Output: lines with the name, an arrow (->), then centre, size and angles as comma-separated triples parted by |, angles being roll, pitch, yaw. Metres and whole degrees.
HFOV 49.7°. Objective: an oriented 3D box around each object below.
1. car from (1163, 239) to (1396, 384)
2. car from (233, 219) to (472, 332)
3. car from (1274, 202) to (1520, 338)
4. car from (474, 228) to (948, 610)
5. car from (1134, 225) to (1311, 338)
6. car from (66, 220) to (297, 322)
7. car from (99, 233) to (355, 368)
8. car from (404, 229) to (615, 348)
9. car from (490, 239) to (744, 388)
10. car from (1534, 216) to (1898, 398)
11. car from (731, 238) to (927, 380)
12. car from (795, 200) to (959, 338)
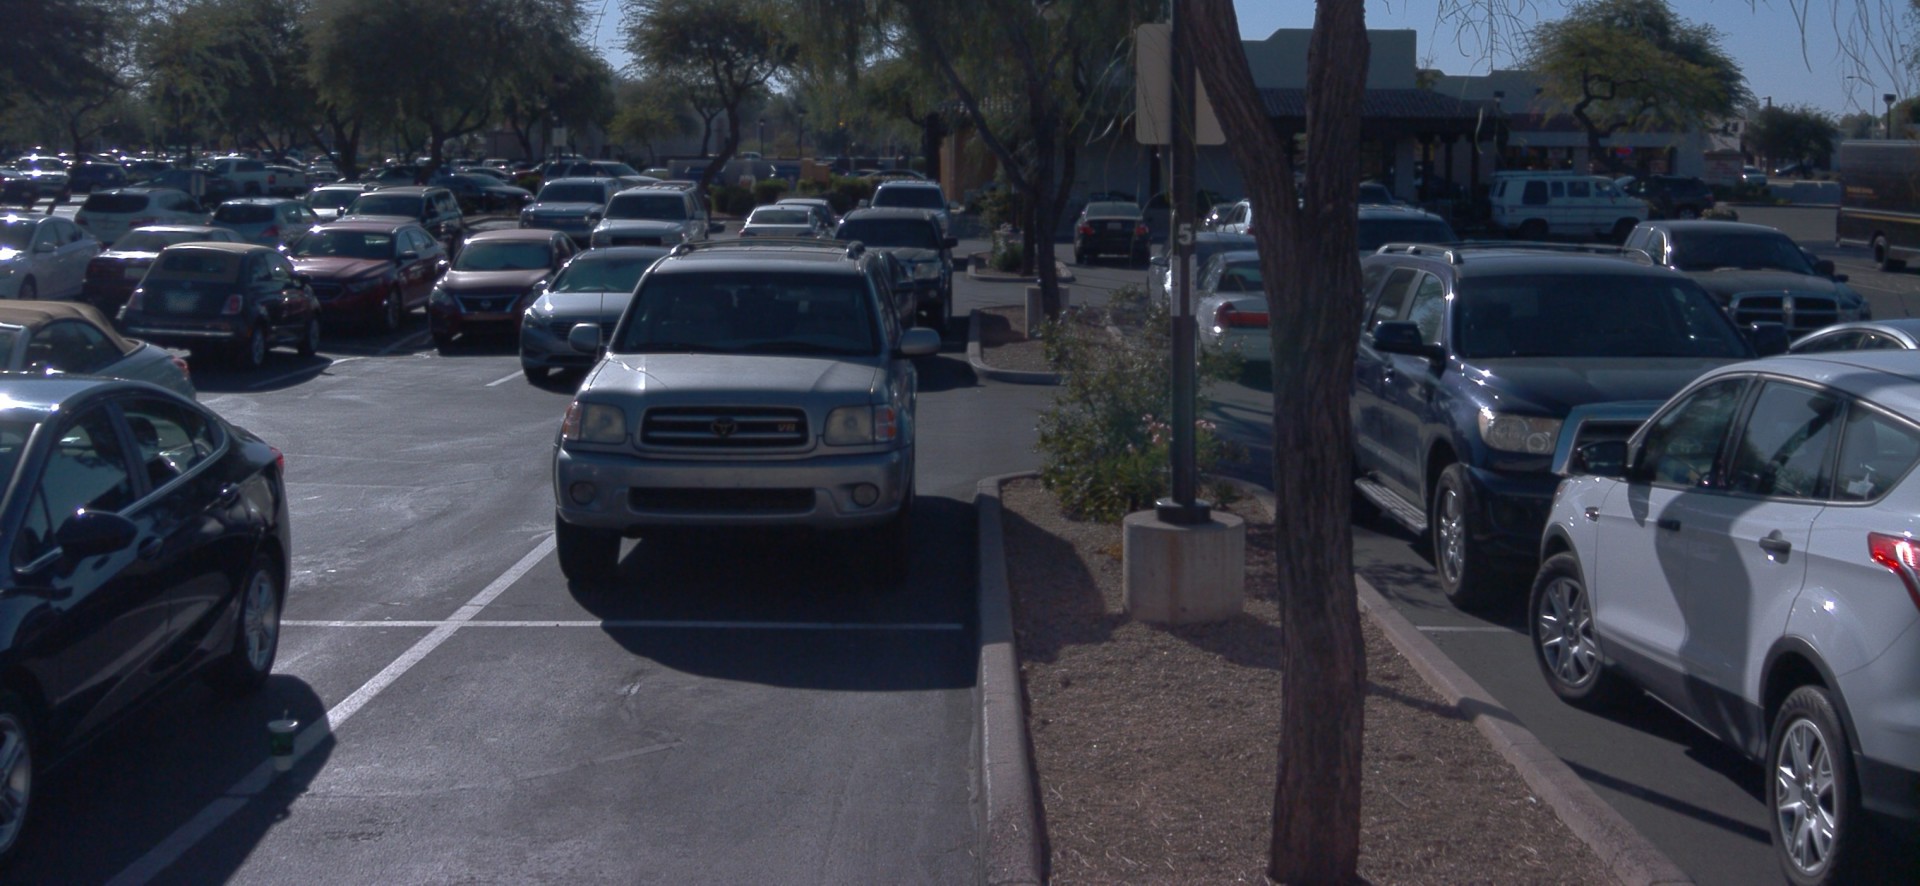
car -> 3.853, -1.731, 25.927 | 2.256, 1.562, 5.128 | 1, 6, 2
car -> -9.151, -2.623, 31.724 | 2.086, 1.562, 4.913 | 1, 6, 2
car -> 6.598, -2.728, 32.029 | 2.482, 1.891, 5.237 | 0, 5, -3
car -> -1.310, -0.391, 13.393 | 2.382, 1.941, 5.207 | 1, 5, 0
car -> 3.887, -2.512, 31.484 | 2.127, 1.553, 4.507 | 1, 6, 0
car -> -11.877, -2.701, 31.967 | 1.905, 1.433, 4.261 | 1, 6, 1
car -> -9.175, -1.868, 26.304 | 1.730, 1.533, 3.845 | 1, 5, 3
car -> -6.543, -2.350, 30.640 | 2.010, 1.593, 4.474 | 1, 5, 2
car -> -4.092, -1.693, 25.654 | 2.180, 1.602, 4.850 | 1, 6, 2
car -> 9.301, -1.834, 26.225 | 2.523, 2.021, 5.784 | 1, 6, 0
car -> -1.510, -1.732, 25.659 | 2.083, 1.543, 4.565 | 1, 6, 0
car -> -1.156, -2.709, 31.610 | 2.086, 1.901, 5.342 | 1, 5, 2
